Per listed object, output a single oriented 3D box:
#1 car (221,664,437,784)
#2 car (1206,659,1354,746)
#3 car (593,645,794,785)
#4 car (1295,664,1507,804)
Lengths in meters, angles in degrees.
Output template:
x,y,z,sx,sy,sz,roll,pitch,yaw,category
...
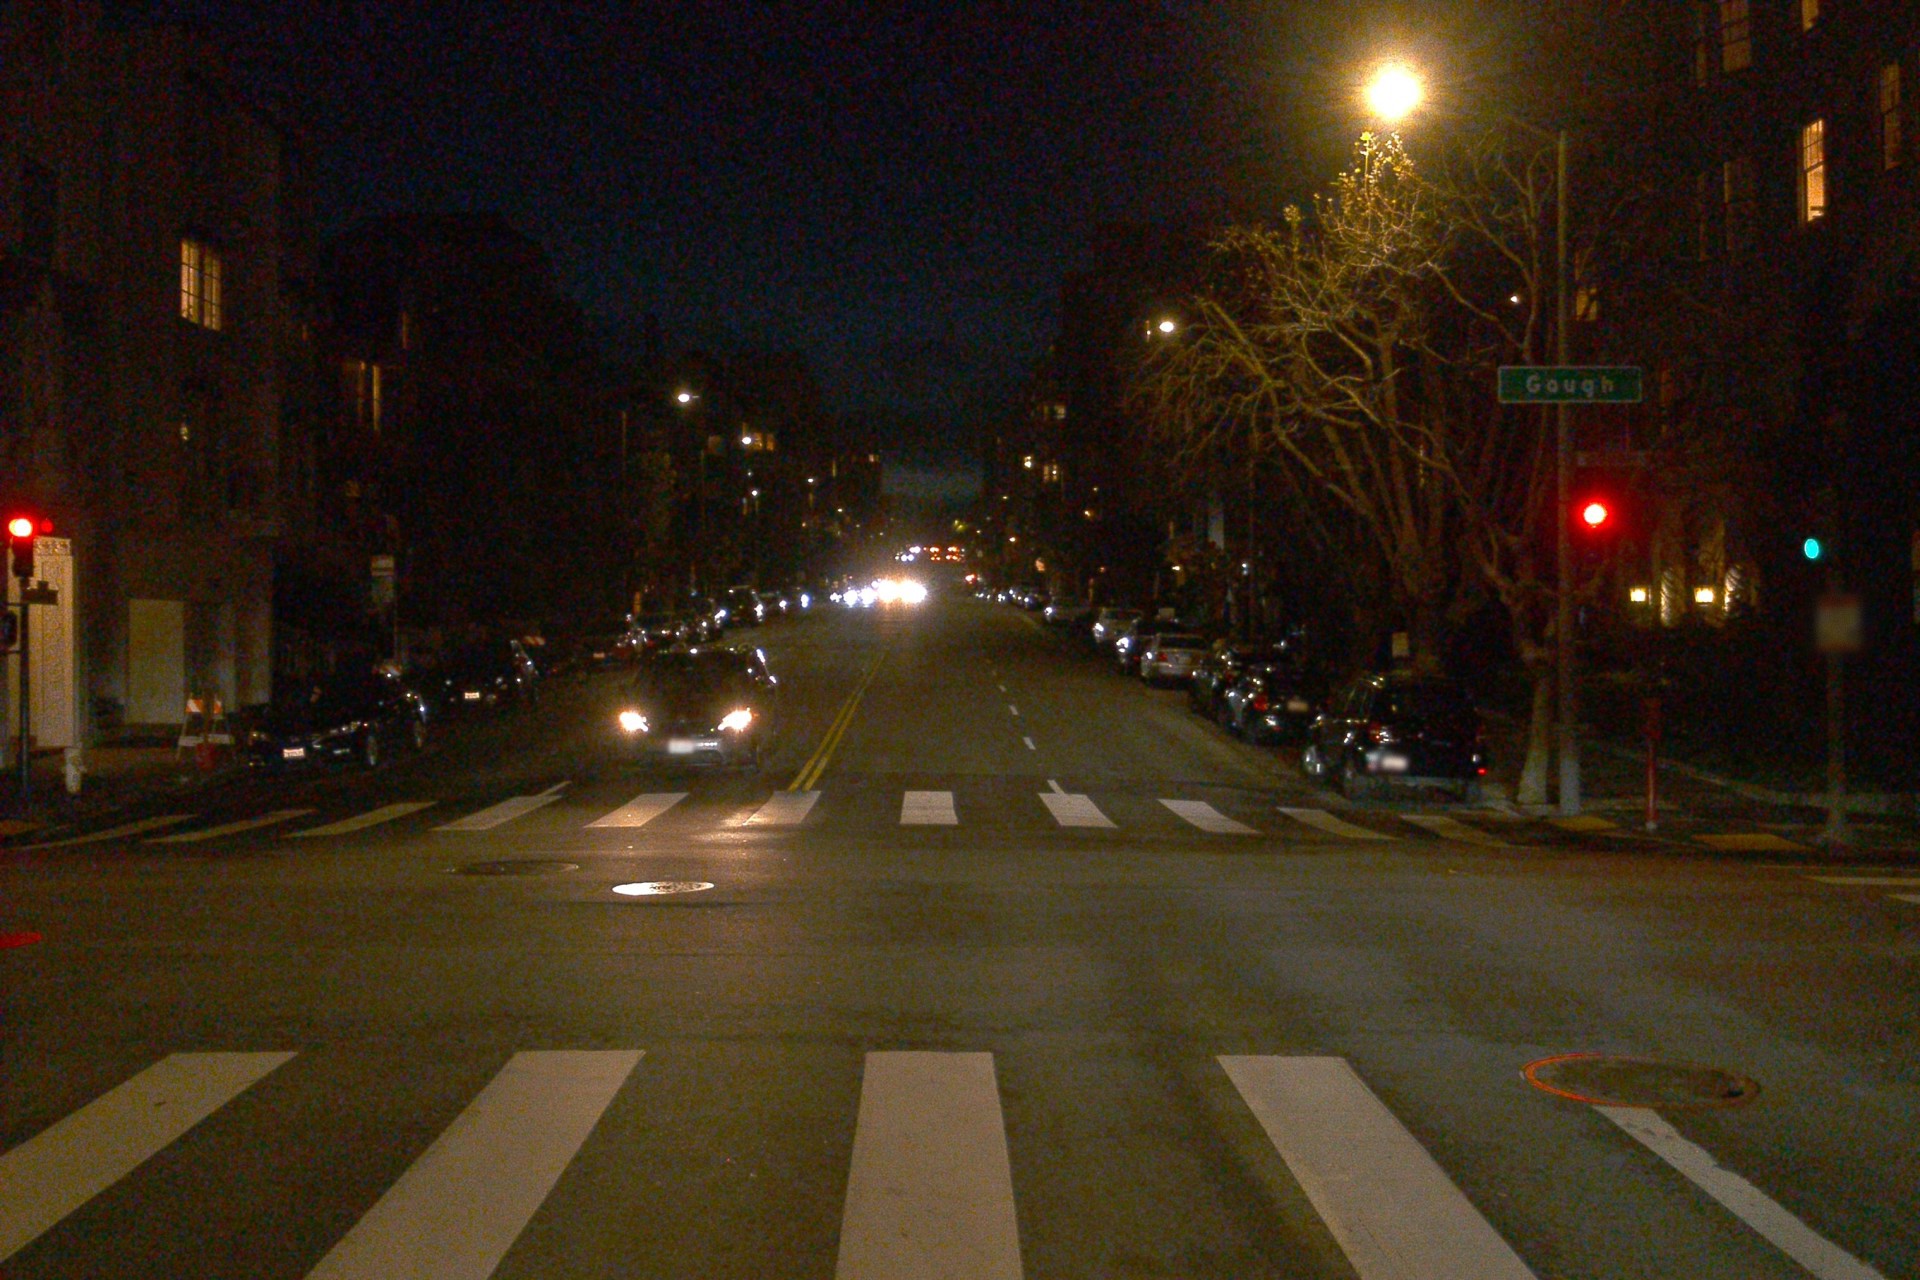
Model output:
x,y,z,sx,sy,sz,roll,pitch,yaw,category
-10.051,1.288,33.195,2.045,1.673,4.519,1,0,0,car
5.817,1.114,37.867,1.802,1.404,4.078,1,0,-4,car
-3.791,1.019,30.199,2.293,1.803,4.677,1,0,0,car
6.082,1.247,28.879,1.802,1.714,4.078,1,0,-4,car
